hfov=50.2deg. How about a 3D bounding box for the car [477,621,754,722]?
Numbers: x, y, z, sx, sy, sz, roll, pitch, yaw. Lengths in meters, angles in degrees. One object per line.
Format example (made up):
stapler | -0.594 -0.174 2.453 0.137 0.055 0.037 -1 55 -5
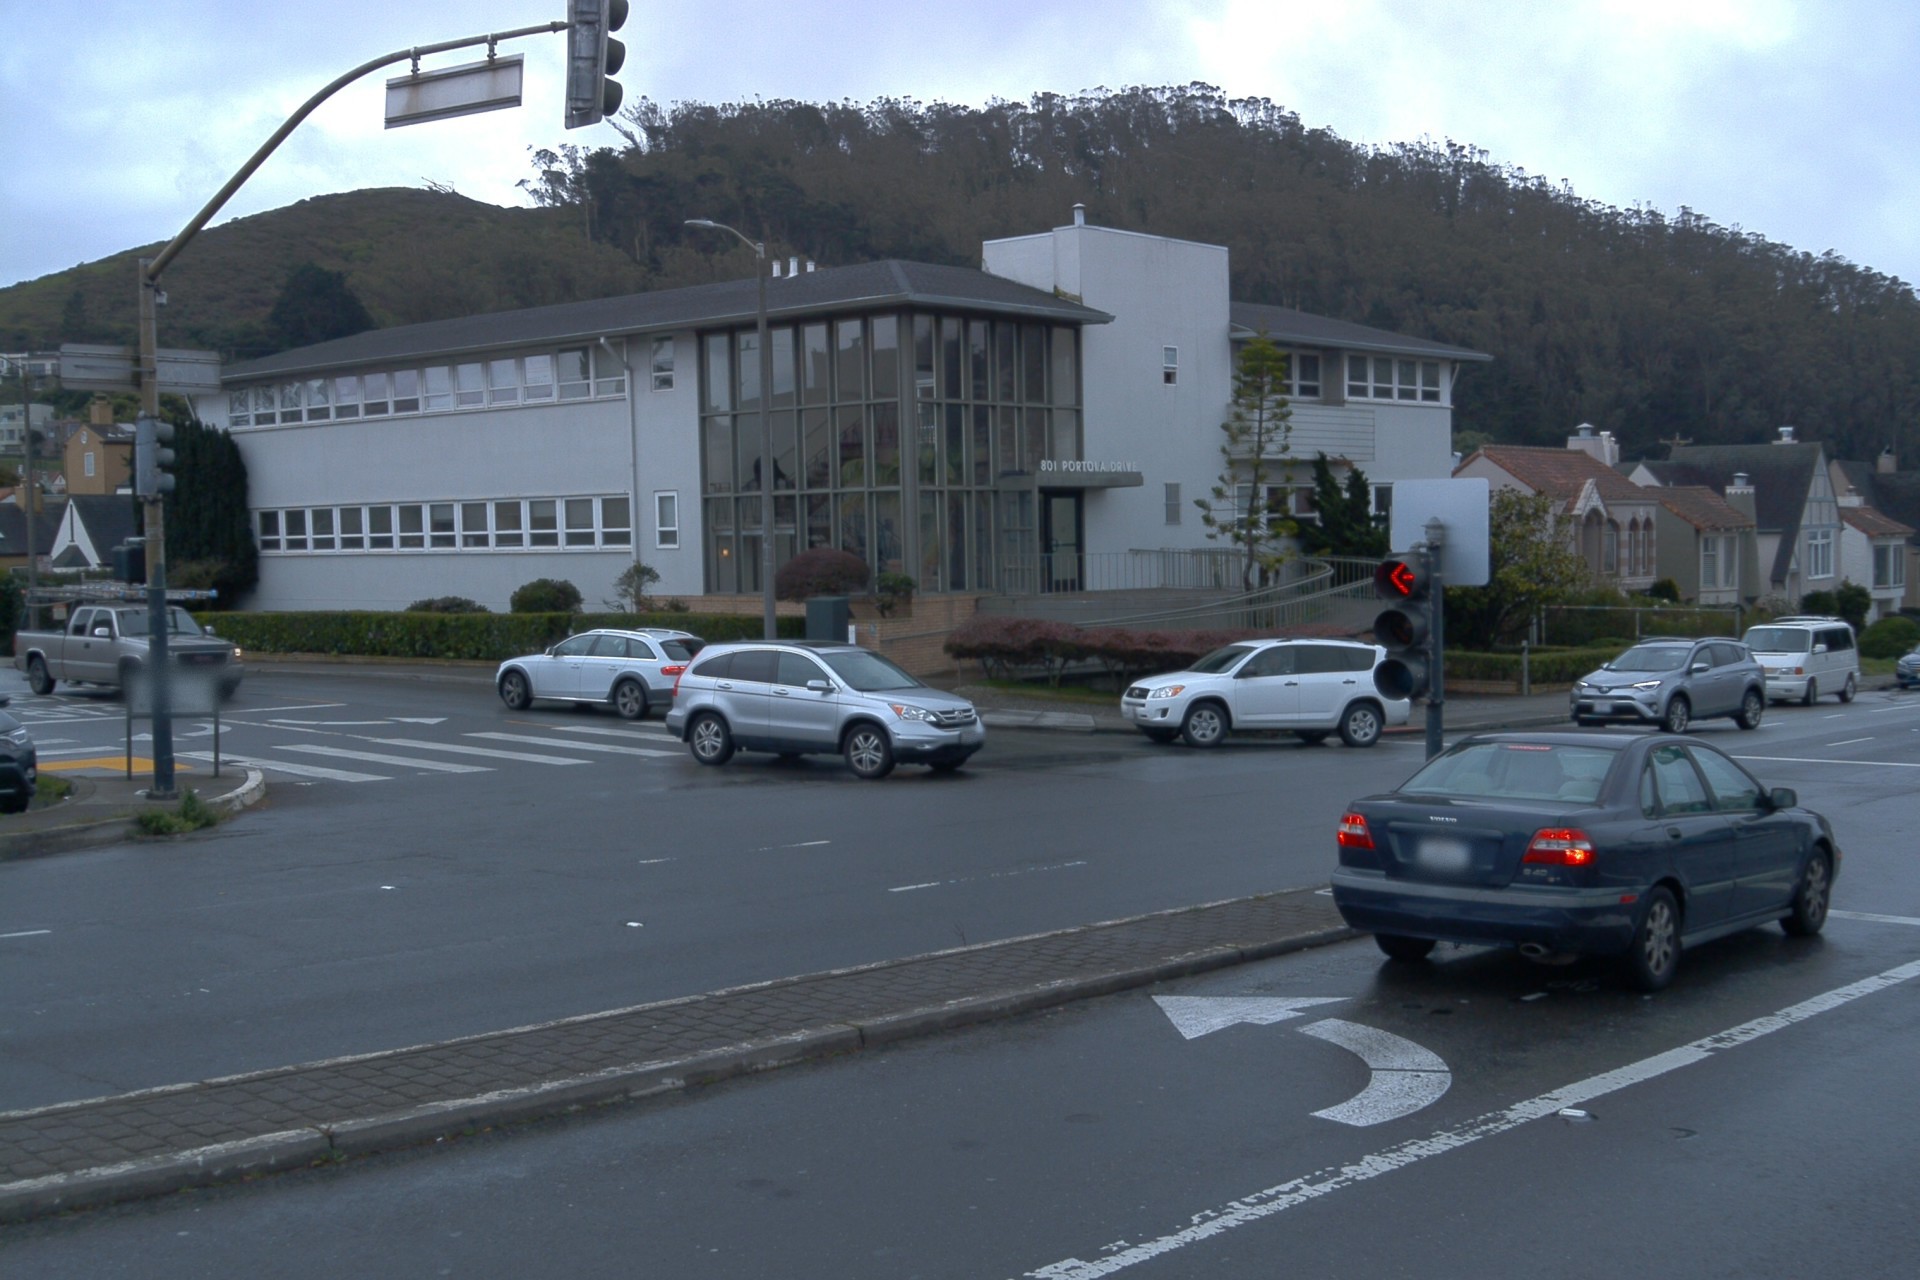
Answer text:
car | -6.015 0.498 35.620 4.648 1.610 2.070 1 1 36

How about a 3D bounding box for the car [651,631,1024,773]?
car | -1.652 0.735 26.910 4.558 1.660 2.153 1 1 36

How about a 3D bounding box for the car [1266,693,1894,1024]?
car | 3.923 1.155 12.516 1.961 1.500 4.296 1 1 43

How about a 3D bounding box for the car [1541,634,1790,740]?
car | 12.598 0.778 36.477 4.665 1.740 2.196 0 1 -42

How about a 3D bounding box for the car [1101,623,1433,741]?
car | 4.806 0.624 32.225 4.742 1.740 2.051 0 1 -18
